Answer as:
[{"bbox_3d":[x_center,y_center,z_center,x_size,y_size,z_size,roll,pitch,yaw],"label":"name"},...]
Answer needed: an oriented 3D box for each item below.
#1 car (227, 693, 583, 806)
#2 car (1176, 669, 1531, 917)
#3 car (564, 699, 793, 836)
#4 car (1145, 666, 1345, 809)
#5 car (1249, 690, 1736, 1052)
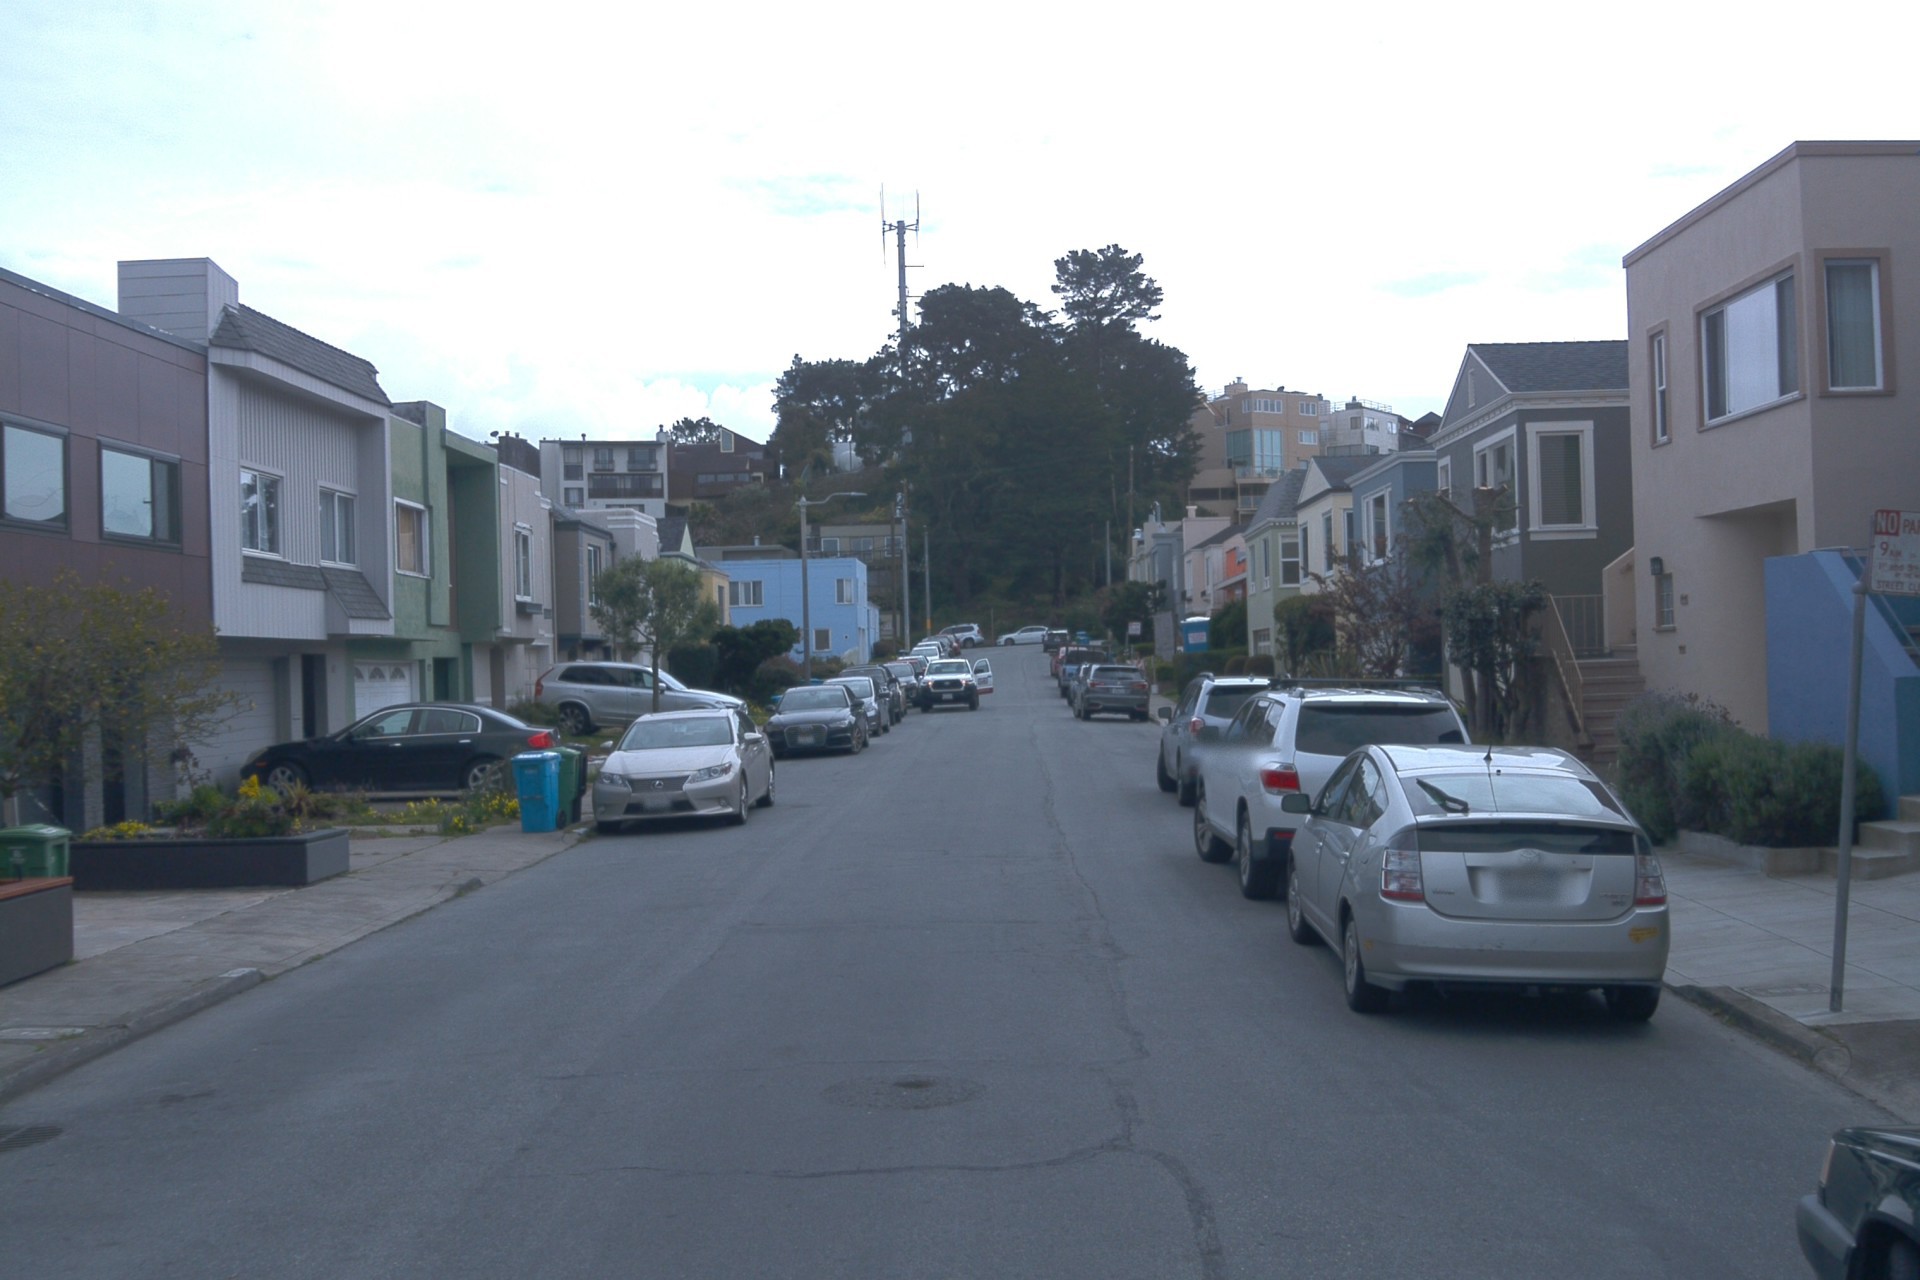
[{"bbox_3d":[-8.069,1.579,30.511,4.784,1.560,2.035,0,0,-5],"label":"car"},{"bbox_3d":[3.274,1.201,18.351,2.207,1.850,5.028,0,0,0],"label":"car"},{"bbox_3d":[-3.553,1.583,27.153,2.130,1.510,5.019,0,0,2],"label":"car"},{"bbox_3d":[3.728,1.229,27.934,2.102,1.730,4.779,0,0,1],"label":"car"},{"bbox_3d":[3.100,1.260,13.139,2.087,1.790,4.606,0,0,3],"label":"car"}]
